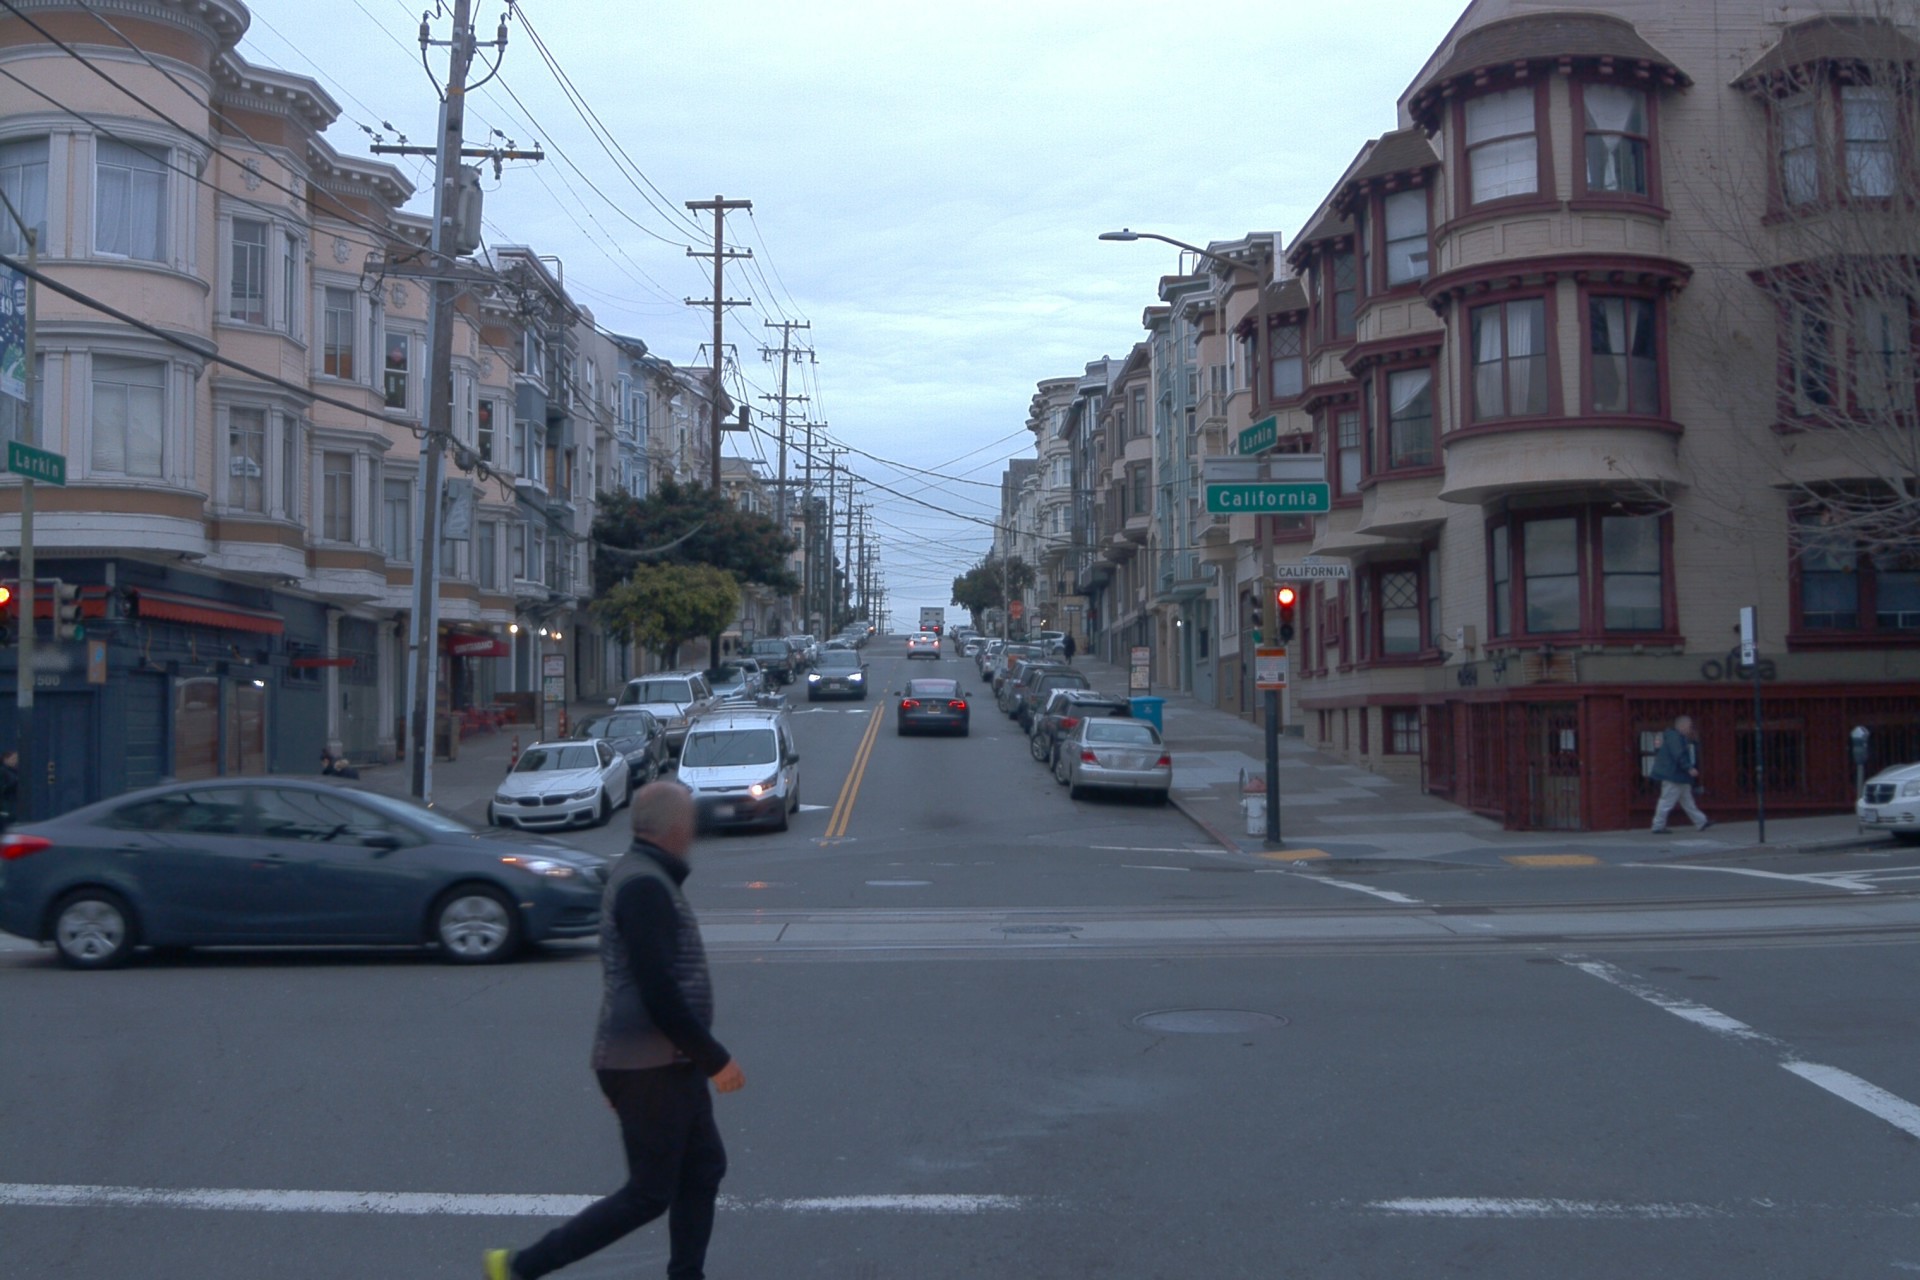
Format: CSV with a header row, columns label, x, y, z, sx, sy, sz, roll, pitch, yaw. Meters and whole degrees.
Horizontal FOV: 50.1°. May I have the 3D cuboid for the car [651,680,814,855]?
label,x,y,z,sx,sy,sz,roll,pitch,yaw
car,-3.621,1.980,33.587,2.196,2.490,4.690,0,1,-1

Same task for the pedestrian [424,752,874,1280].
label,x,y,z,sx,sy,sz,roll,pitch,yaw
pedestrian,-0.901,1.233,6.237,1.249,1.716,0.879,0,1,-3

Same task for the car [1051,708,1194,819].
label,x,y,z,sx,sy,sz,roll,pitch,yaw
car,2.936,2.236,38.183,2.108,1.700,4.470,0,1,-2

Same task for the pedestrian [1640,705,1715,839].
label,x,y,z,sx,sy,sz,roll,pitch,yaw
pedestrian,10.240,1.875,29.374,0.909,1.830,0.913,0,1,13

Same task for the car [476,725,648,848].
label,x,y,z,sx,sy,sz,roll,pitch,yaw
car,-6.813,2.477,35.707,2.150,1.707,4.680,0,1,-1
